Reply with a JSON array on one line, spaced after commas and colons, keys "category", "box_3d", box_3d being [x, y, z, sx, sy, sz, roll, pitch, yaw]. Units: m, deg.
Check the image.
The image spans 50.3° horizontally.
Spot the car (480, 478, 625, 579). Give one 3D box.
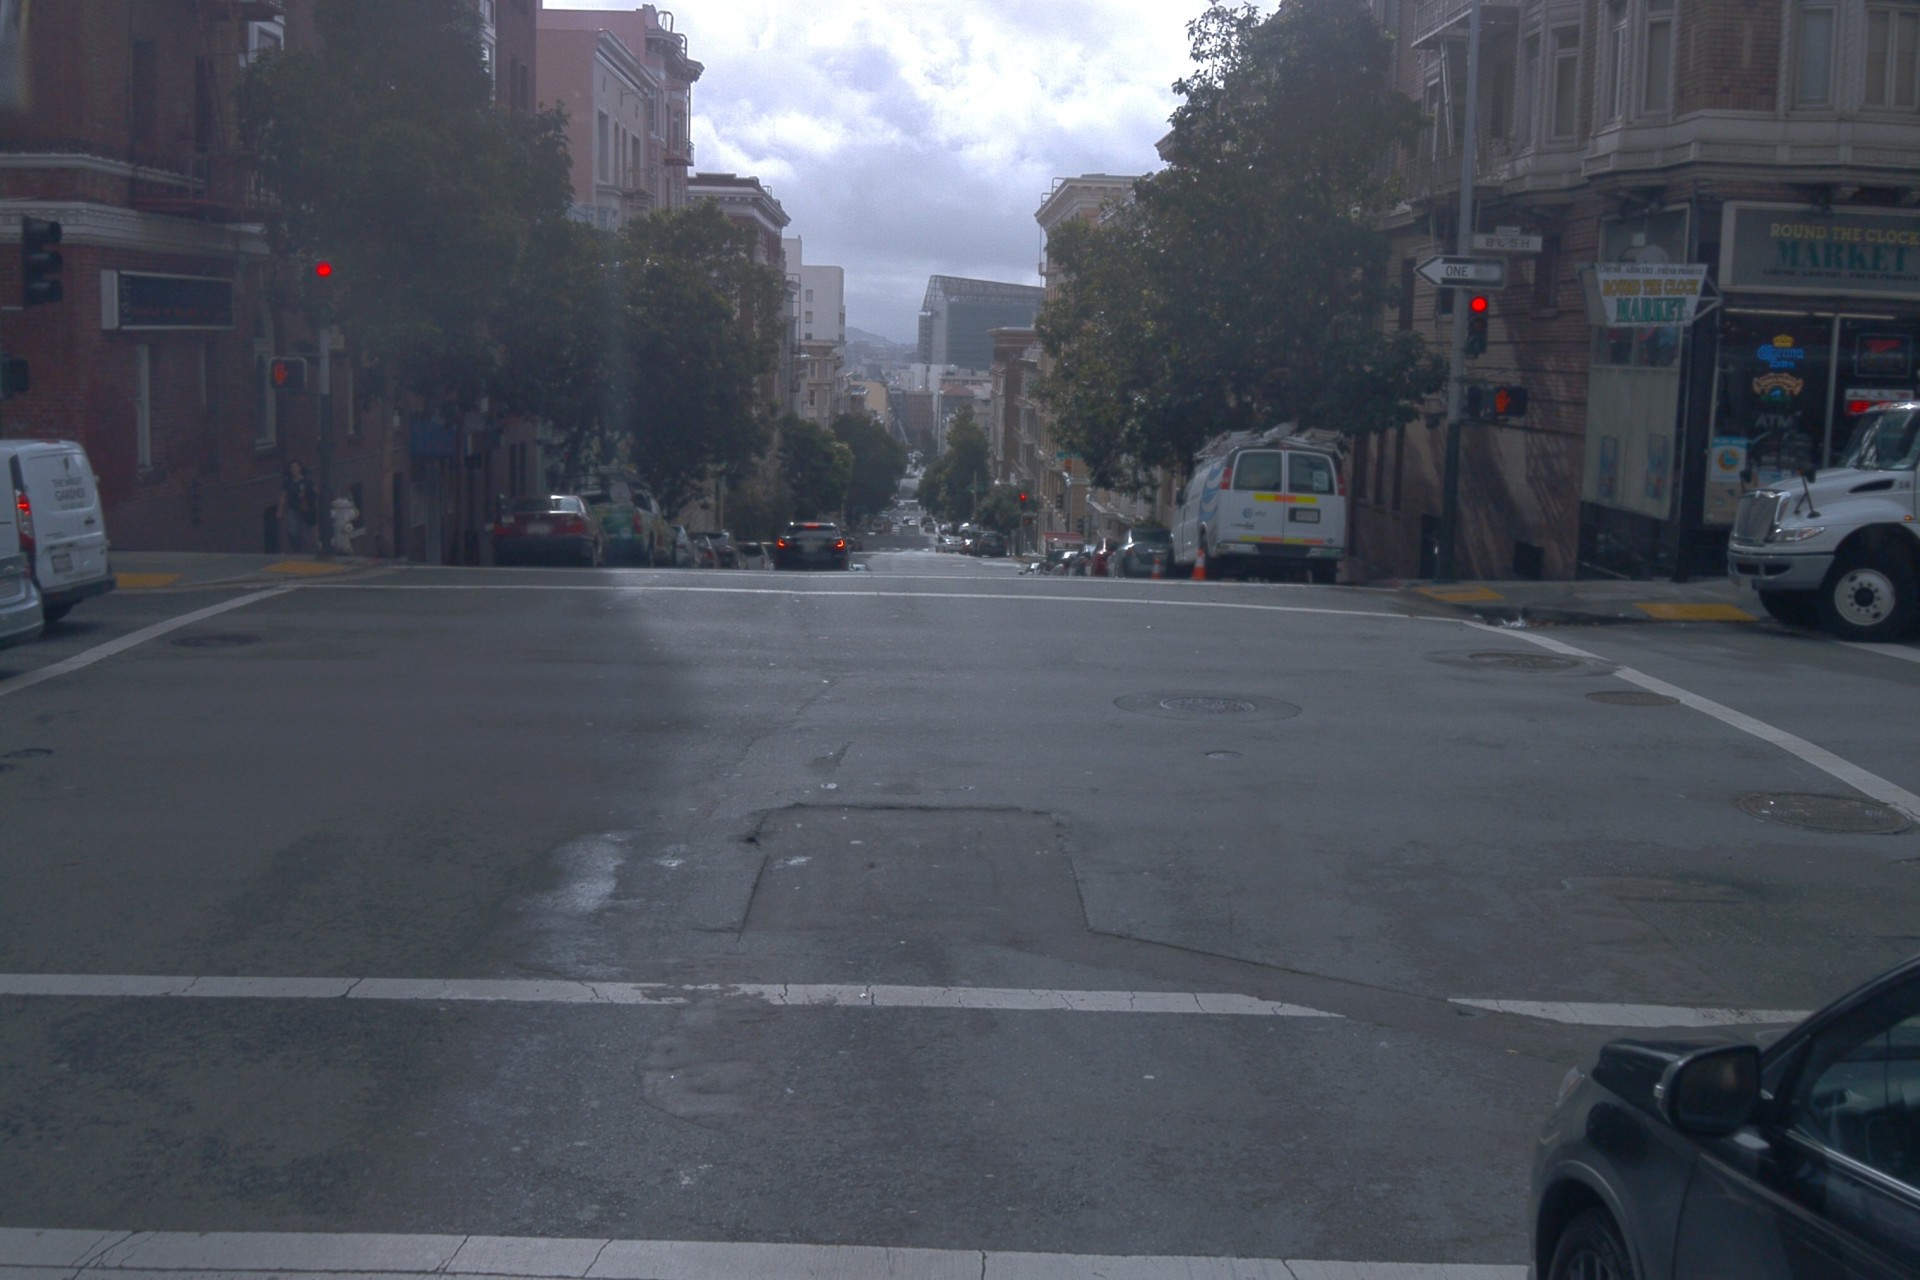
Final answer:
[{"category": "car", "box_3d": [-6.889, -1.849, 34.931, 1.759, 1.530, 4.100, 1, 1, -2]}]

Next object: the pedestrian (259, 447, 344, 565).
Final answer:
[{"category": "pedestrian", "box_3d": [-10.011, -2.017, 31.097, 0.930, 1.717, 1.087, 1, 1, -1]}]

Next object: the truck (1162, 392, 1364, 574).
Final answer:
[{"category": "truck", "box_3d": [4.581, -2.323, 31.756, 2.117, 2.450, 5.100, 1, 1, -3]}]
